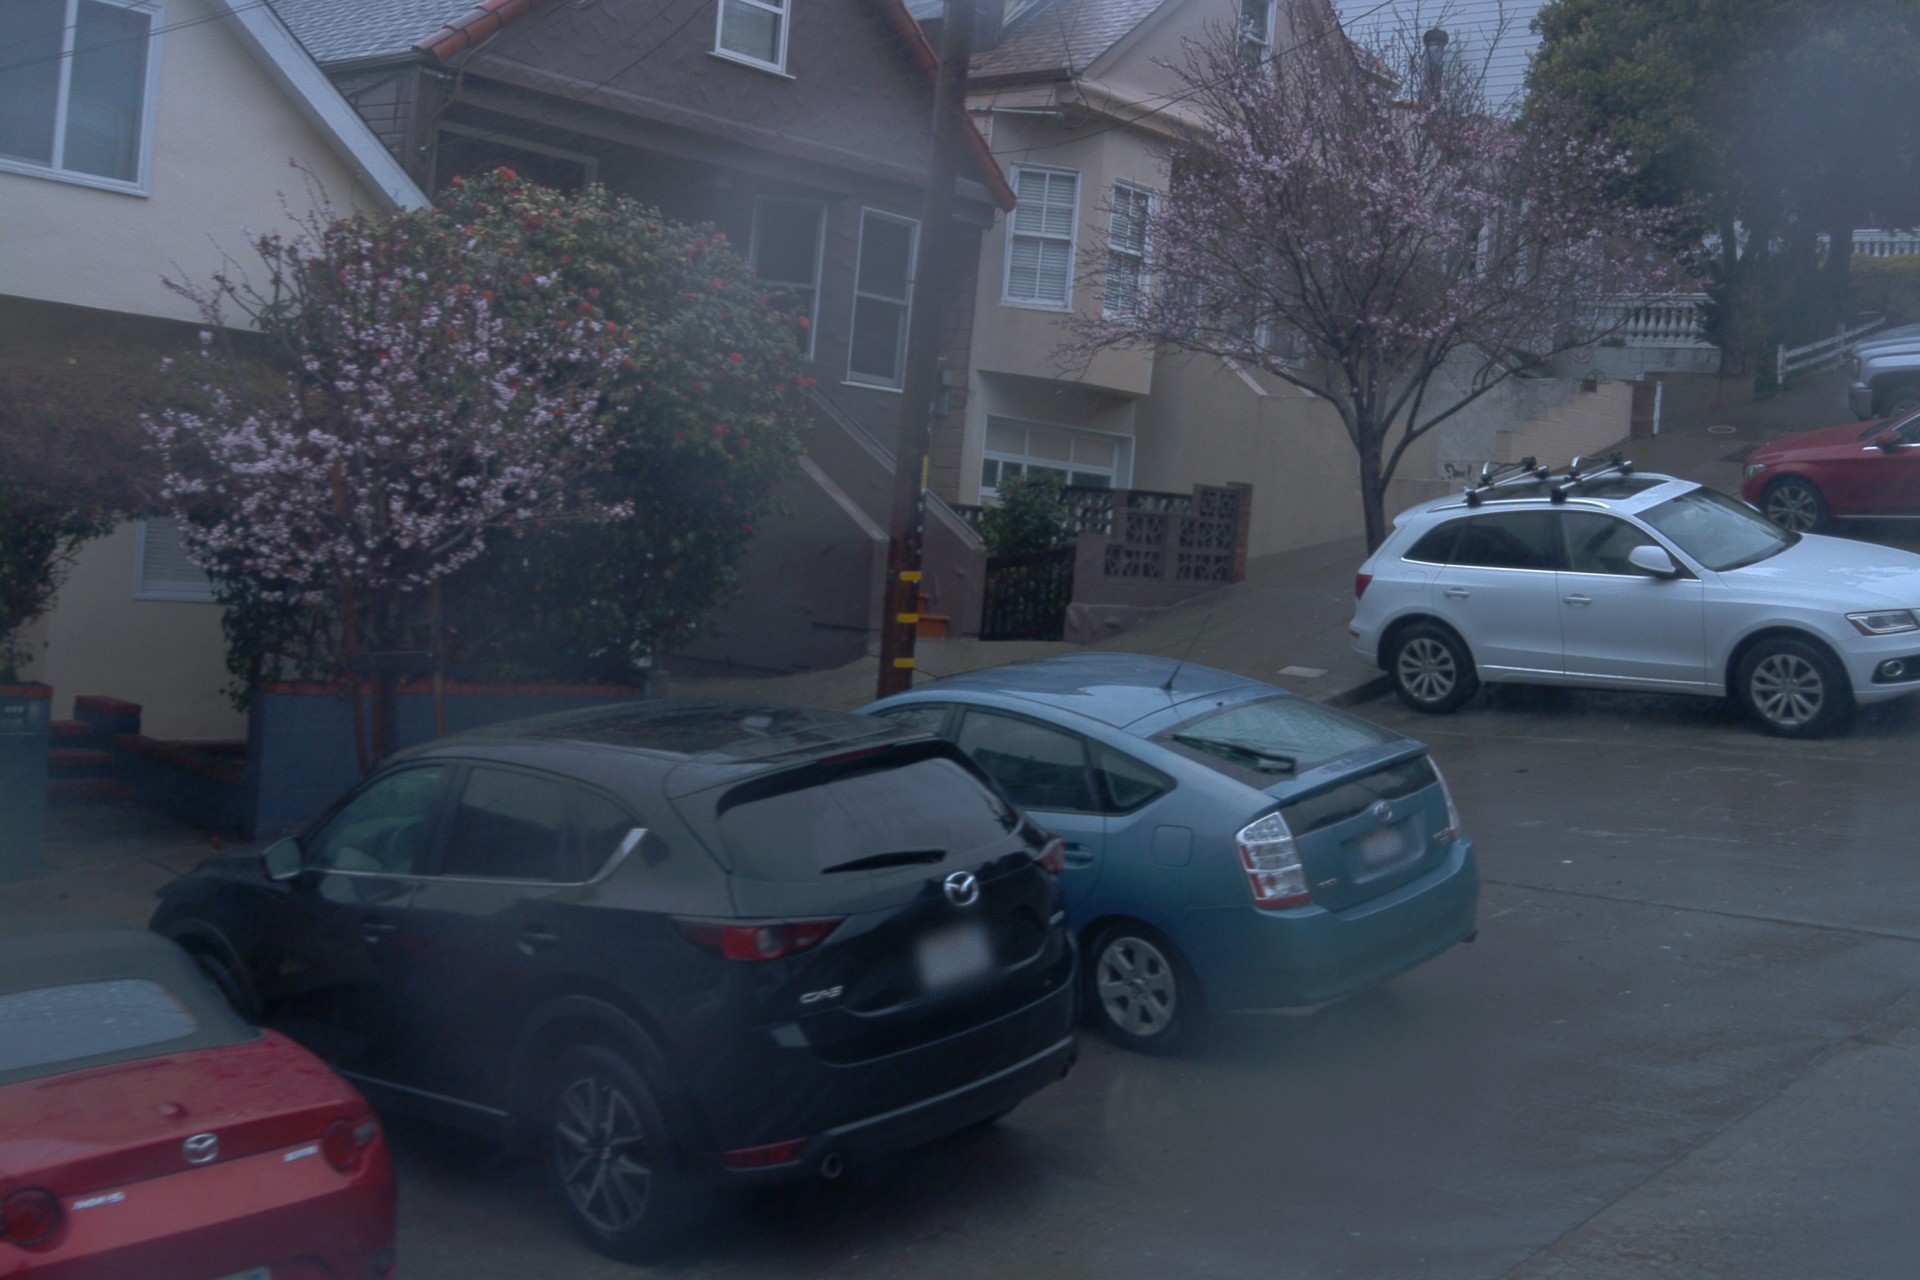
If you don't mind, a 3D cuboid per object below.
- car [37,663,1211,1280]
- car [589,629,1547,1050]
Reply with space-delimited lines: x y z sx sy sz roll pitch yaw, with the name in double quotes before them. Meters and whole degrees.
"car" -1.481 1.094 7.961 4.389 1.960 2.181 0 0 42
"car" 0.331 0.739 9.895 4.315 1.550 1.997 0 0 44
